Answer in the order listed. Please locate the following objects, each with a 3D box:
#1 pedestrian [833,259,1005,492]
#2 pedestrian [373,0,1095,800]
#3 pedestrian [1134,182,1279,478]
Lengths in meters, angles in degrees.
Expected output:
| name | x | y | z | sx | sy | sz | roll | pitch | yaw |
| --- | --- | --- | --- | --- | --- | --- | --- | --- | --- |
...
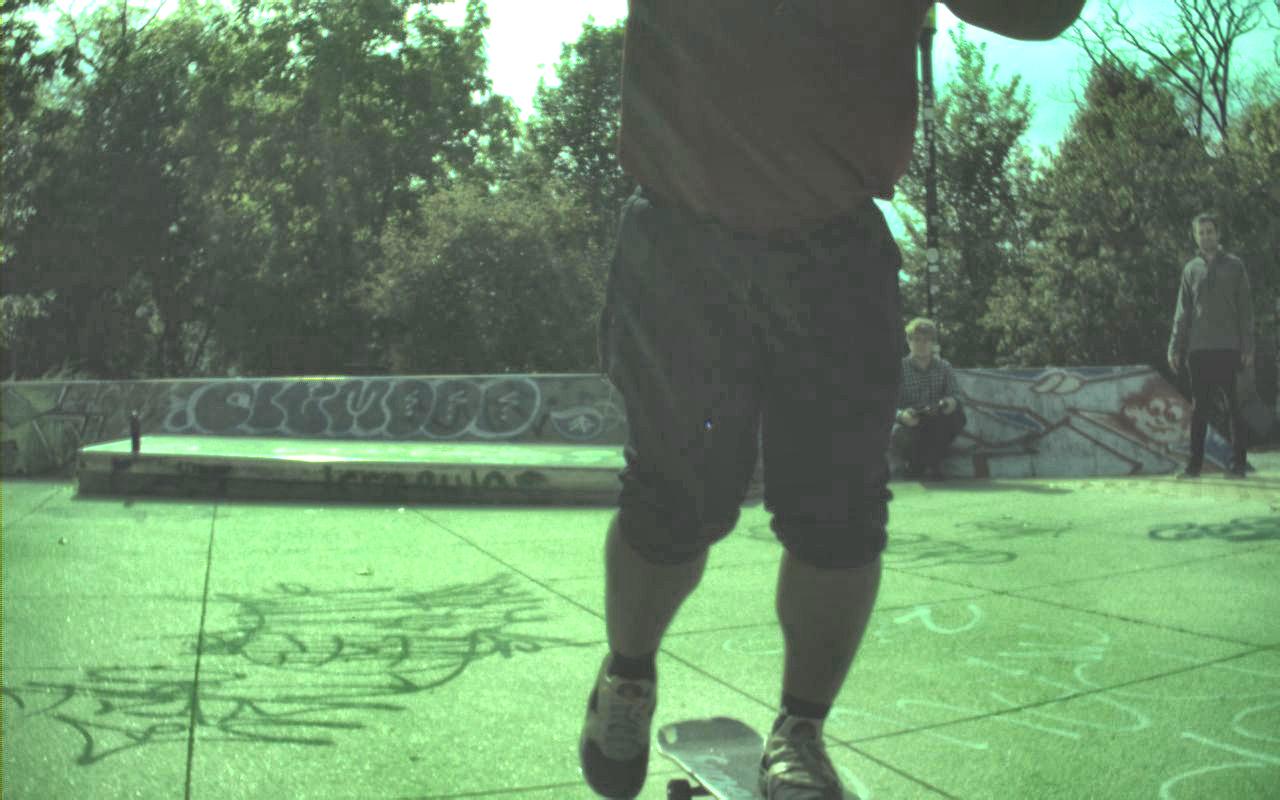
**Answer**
| name | x | y | z | sx | sy | sz | roll | pitch | yaw |
| --- | --- | --- | --- | --- | --- | --- | --- | --- | --- |
| pedestrian | 1.930 | -0.166 | 8.564 | 0.873 | 1.508 | 0.826 | 0 | 0 | -29 |
| pedestrian | 0.167 | -0.109 | 1.765 | 0.839 | 1.715 | 0.772 | 1 | 0 | 41 |
| pedestrian | 3.762 | -0.433 | 7.601 | 0.840 | 1.837 | 0.854 | 1 | 0 | 40 |
